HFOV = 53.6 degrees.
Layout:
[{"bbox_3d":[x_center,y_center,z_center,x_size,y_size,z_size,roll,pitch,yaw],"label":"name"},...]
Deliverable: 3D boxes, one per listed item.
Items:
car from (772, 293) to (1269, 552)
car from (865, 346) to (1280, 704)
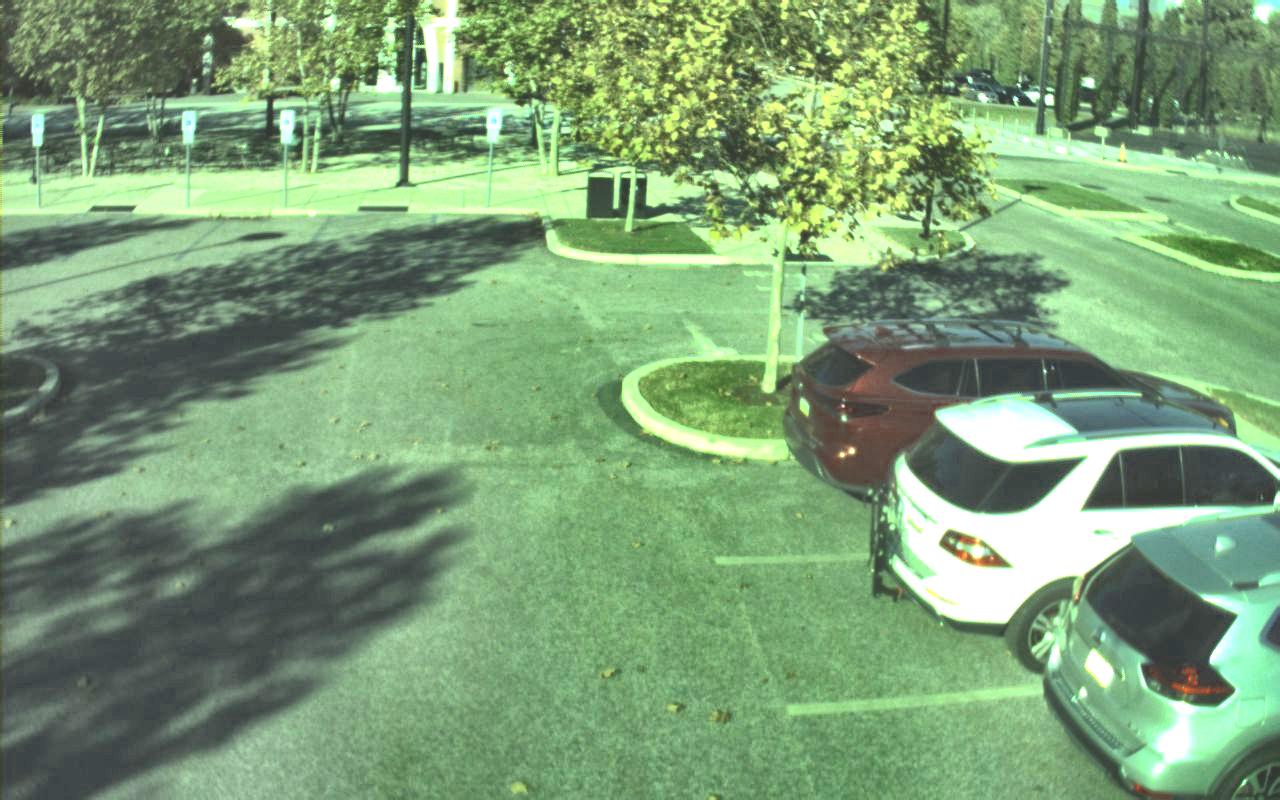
[{"bbox_3d":[3.809,0.086,12.090,4.697,1.735,2.014,-3,16,-8],"label":"car"},{"bbox_3d":[4.247,0.821,9.354,4.560,1.770,2.008,-4,16,-10],"label":"car"}]
